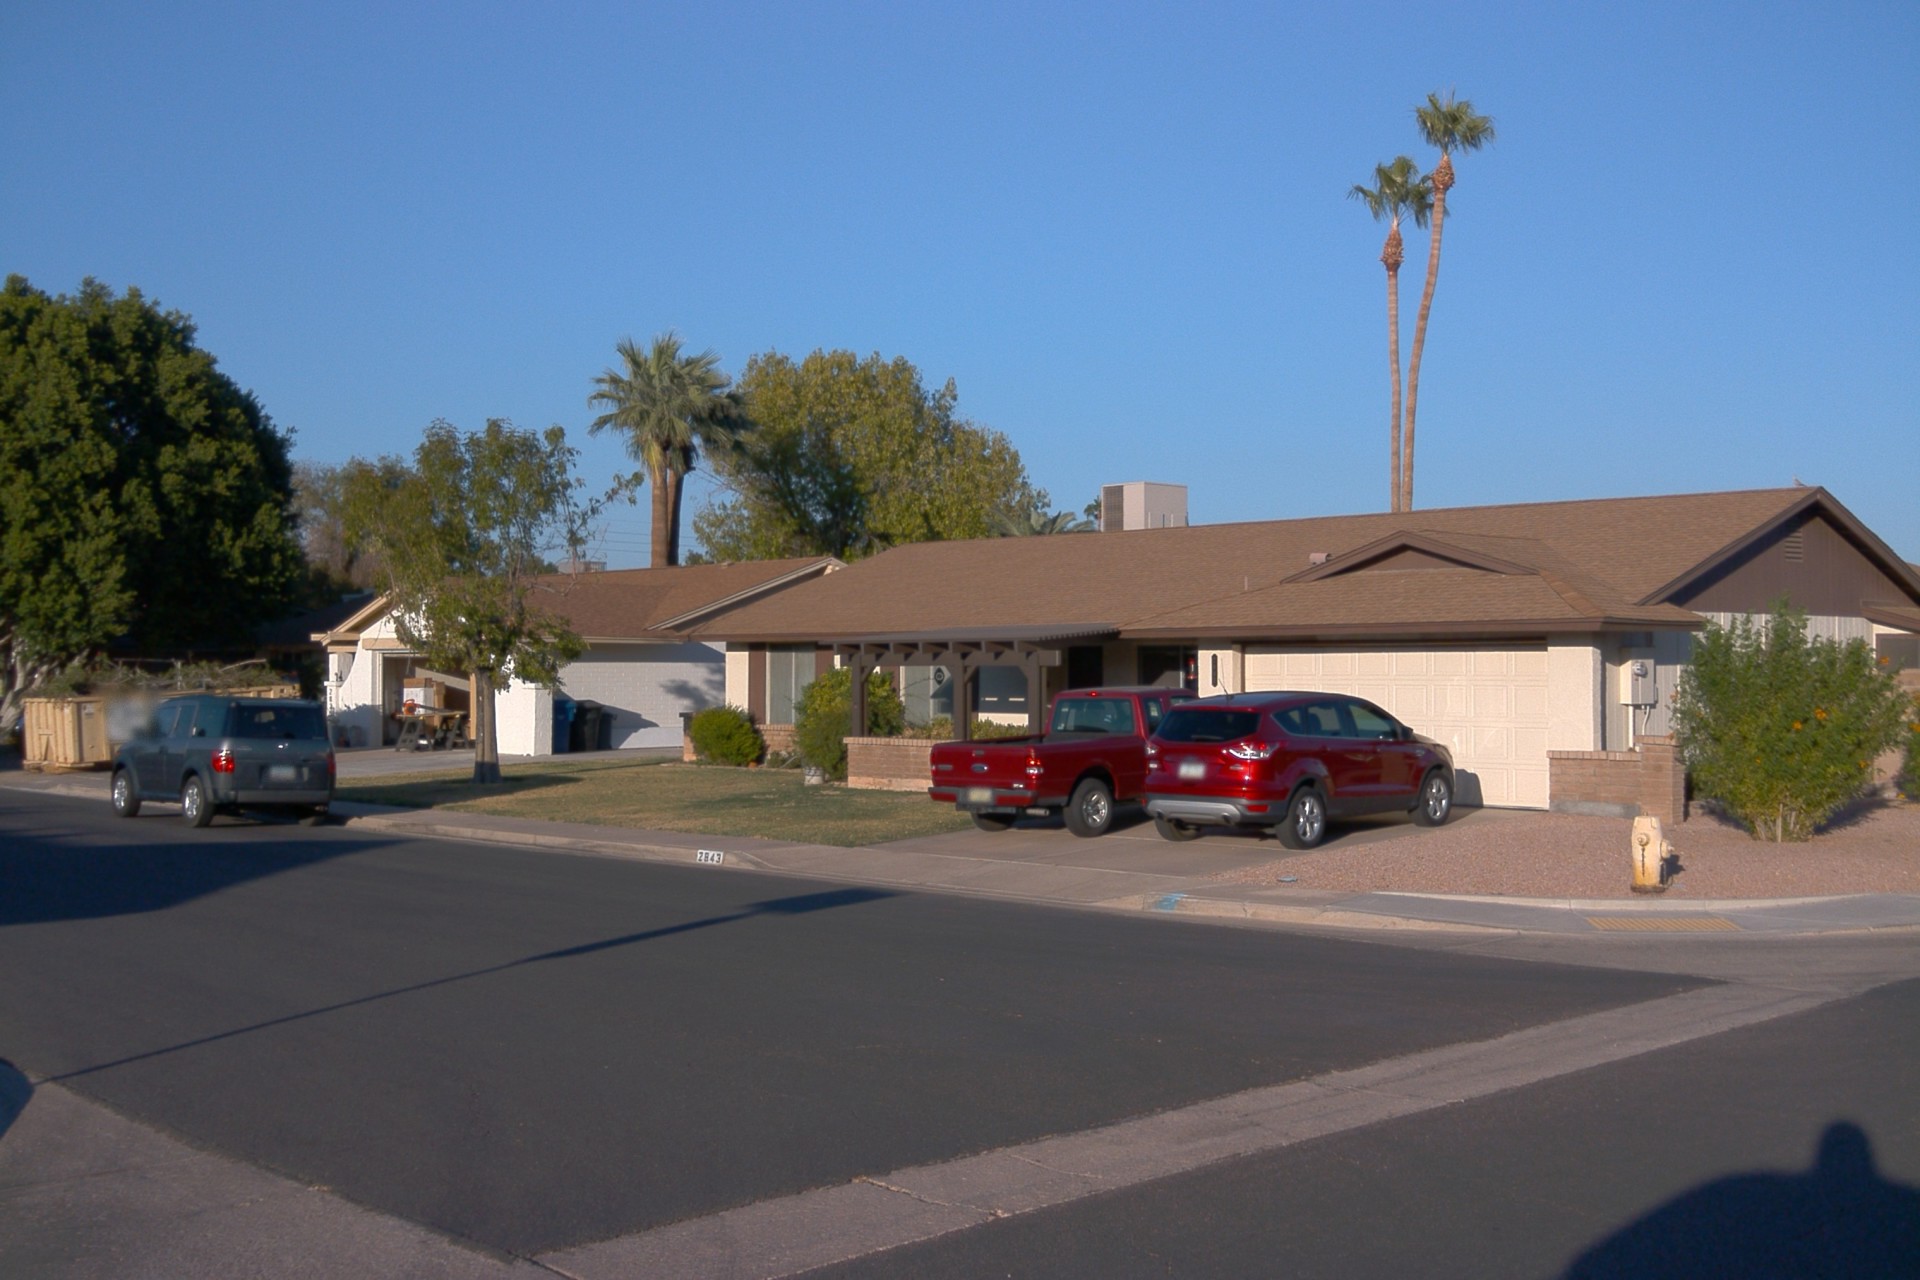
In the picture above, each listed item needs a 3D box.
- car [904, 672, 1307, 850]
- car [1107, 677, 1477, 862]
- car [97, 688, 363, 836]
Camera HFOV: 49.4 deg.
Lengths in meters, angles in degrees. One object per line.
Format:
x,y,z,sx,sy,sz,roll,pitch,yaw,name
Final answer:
1.889,1.368,25.502,1.986,1.900,5.227,0,0,44,car
3.871,1.370,23.778,1.963,1.830,4.602,0,0,42,car
-10.255,1.626,29.205,1.977,1.810,4.098,1,0,-44,car
